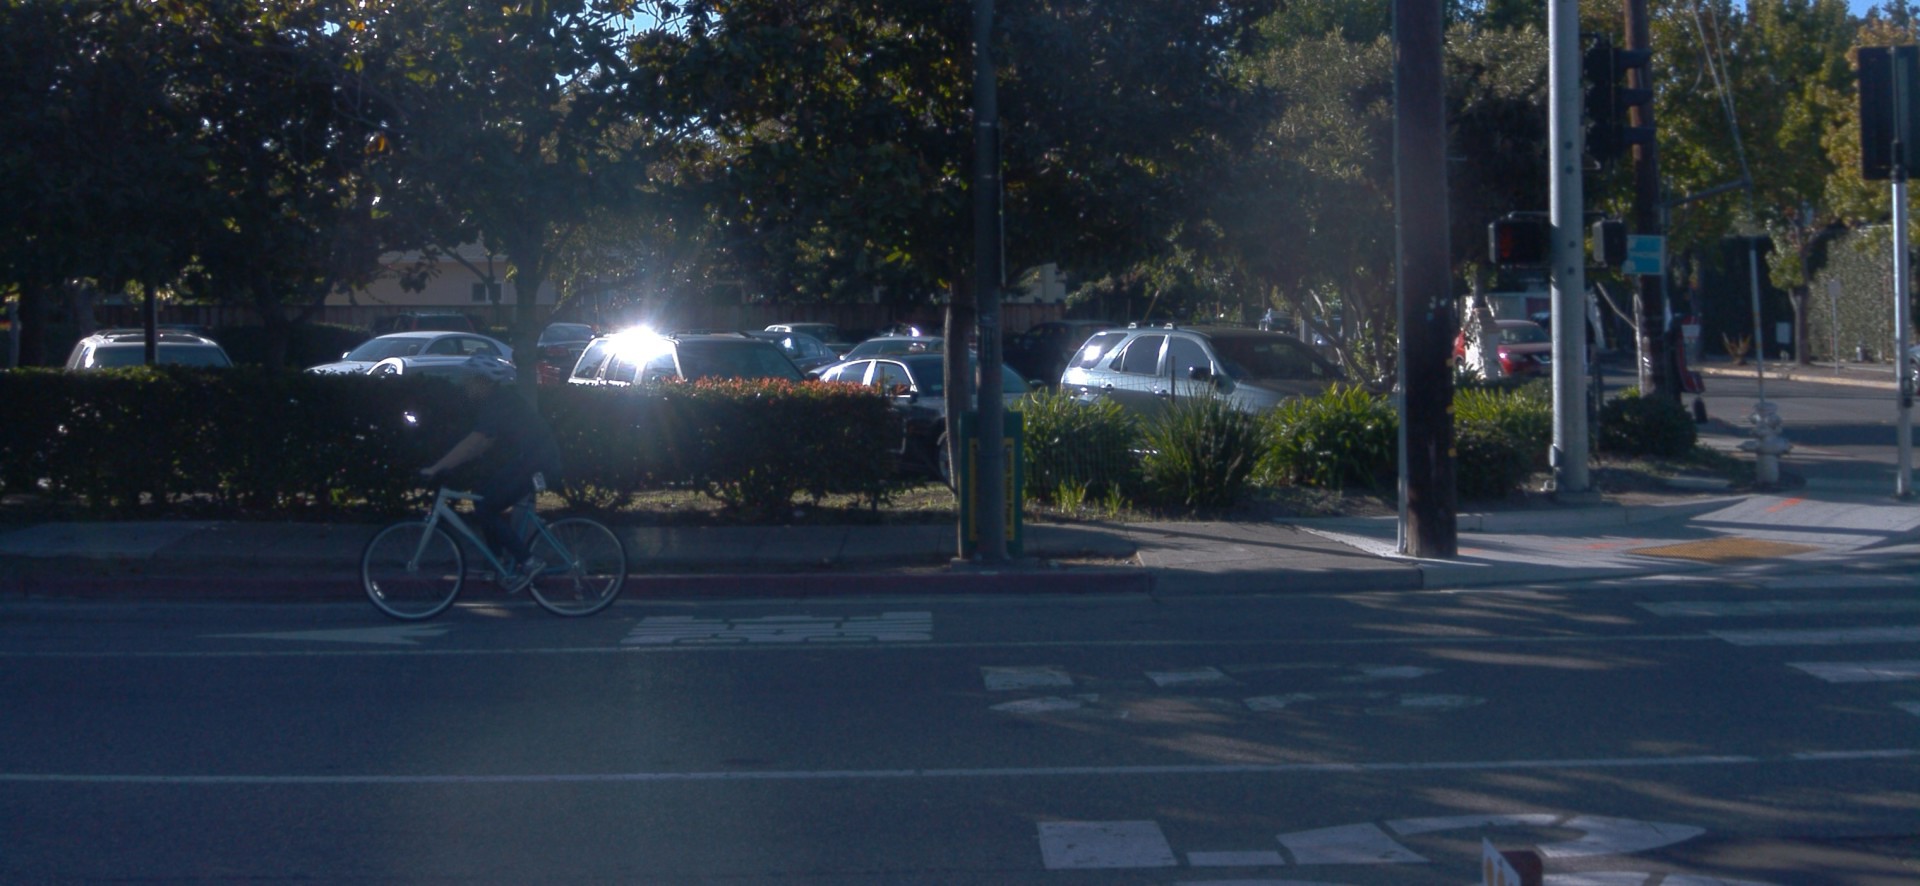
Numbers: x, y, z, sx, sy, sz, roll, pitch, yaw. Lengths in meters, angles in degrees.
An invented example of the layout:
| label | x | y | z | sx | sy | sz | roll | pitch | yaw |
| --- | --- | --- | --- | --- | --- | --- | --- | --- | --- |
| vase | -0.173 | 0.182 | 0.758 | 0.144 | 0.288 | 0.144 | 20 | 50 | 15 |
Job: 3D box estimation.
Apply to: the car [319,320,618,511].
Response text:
| label | x | y | z | sx | sy | sz | roll | pitch | yaw |
| --- | --- | --- | --- | --- | --- | --- | --- | --- | --- |
| car | -5.540 | -0.420 | 22.895 | 2.169 | 1.643 | 4.587 | -2 | 6 | -27 |

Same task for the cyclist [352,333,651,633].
| label | x | y | z | sx | sy | sz | roll | pitch | yaw |
| --- | --- | --- | --- | --- | --- | --- | --- | --- | --- |
| cyclist | -2.957 | 0.234 | 13.505 | 1.799 | 1.859 | 0.700 | 0 | 1 | -1 |

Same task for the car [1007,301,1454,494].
| label | x | y | z | sx | sy | sz | roll | pitch | yaw |
| --- | --- | --- | --- | --- | --- | --- | --- | --- | --- |
| car | 2.925 | -0.641 | 23.573 | 2.134 | 1.744 | 5.090 | -3 | 6 | -36 |

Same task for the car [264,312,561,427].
| label | x | y | z | sx | sy | sz | roll | pitch | yaw |
| --- | --- | --- | --- | --- | --- | --- | --- | --- | --- |
| car | -9.293 | -1.343 | 35.700 | 2.136 | 1.583 | 5.180 | 2 | 6 | 25 |

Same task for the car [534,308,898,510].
| label | x | y | z | sx | sy | sz | roll | pitch | yaw |
| --- | --- | --- | --- | --- | --- | --- | --- | --- | --- |
| car | -2.921 | -0.516 | 23.636 | 2.041 | 1.823 | 5.101 | -2 | 6 | -33 |

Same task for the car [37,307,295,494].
| label | x | y | z | sx | sy | sz | roll | pitch | yaw |
| --- | --- | --- | --- | --- | --- | --- | --- | --- | --- |
| car | -9.006 | -0.593 | 23.275 | 2.141 | 1.663 | 4.632 | -2 | 6 | -28 |
